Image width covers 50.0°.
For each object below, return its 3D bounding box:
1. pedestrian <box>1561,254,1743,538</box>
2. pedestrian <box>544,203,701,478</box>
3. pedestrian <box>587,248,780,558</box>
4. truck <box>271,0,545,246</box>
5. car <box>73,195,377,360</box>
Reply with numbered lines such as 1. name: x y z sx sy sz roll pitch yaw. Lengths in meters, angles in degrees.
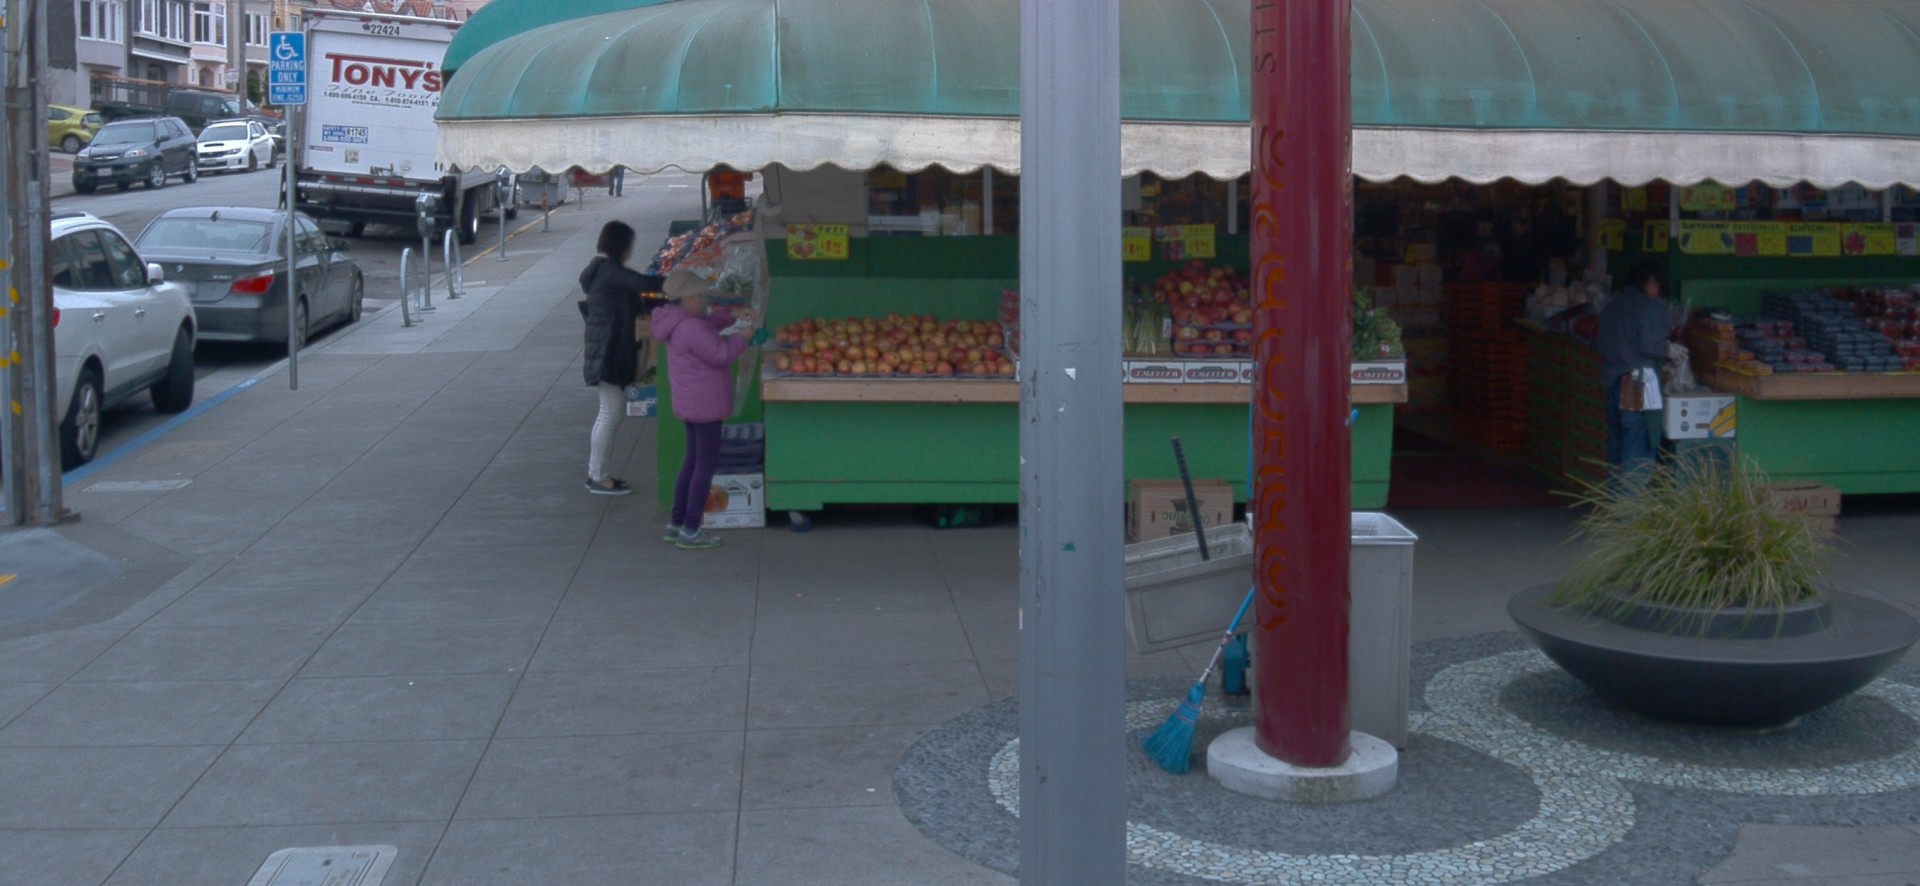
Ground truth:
1. pedestrian: 3.944 -0.294 11.775 0.743 1.557 0.755 0 2 -4
2. pedestrian: -2.070 -0.655 12.557 0.796 1.607 0.823 -1 2 -21
3. pedestrian: -1.463 -0.251 10.982 0.704 1.564 0.799 1 2 24
4. truck: -9.365 -5.414 36.198 2.914 3.770 10.115 0 5 -5
5. car: -7.455 -1.776 21.359 1.969 1.513 4.609 0 6 -7
